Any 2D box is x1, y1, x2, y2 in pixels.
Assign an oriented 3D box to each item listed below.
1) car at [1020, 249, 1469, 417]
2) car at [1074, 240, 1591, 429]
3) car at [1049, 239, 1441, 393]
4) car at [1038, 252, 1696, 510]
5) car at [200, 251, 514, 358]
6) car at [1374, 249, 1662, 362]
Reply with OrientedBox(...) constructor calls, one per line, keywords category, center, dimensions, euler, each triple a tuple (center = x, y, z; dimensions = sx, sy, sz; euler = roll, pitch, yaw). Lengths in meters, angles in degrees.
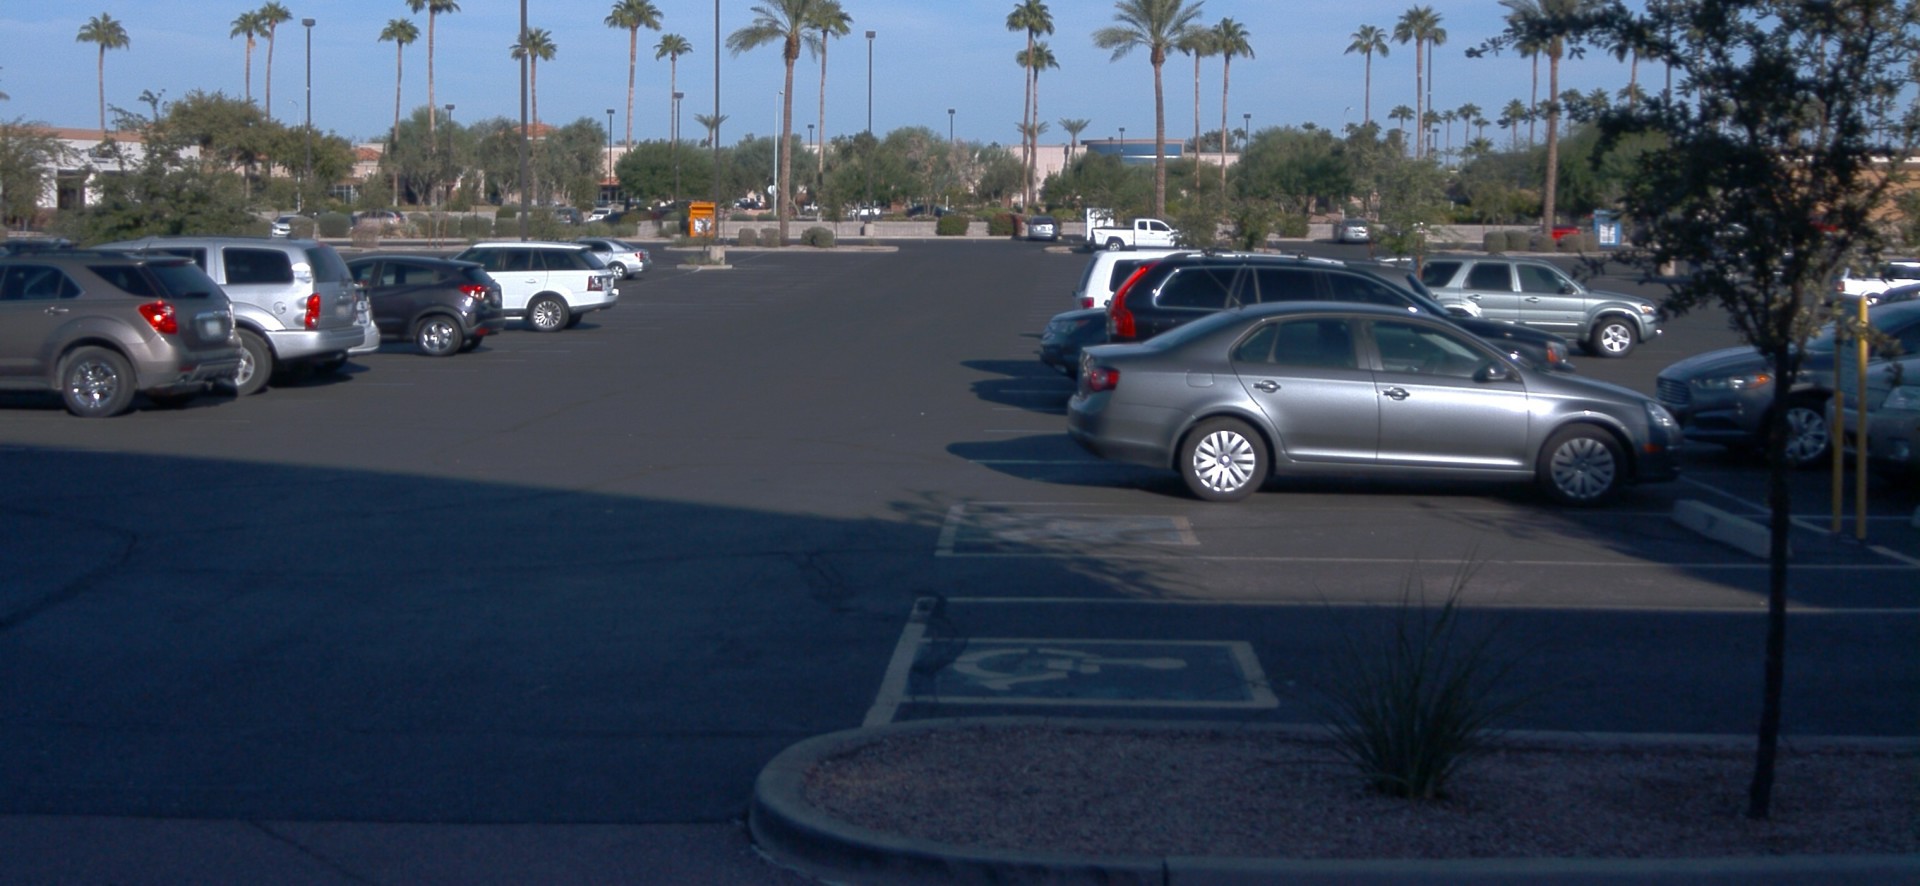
OrientedBox(category="car", center=(3.259, -1.357, 24.694), dimensions=(5.087, 1.843, 2.261), euler=(0, 4, 1))
OrientedBox(category="car", center=(3.736, -1.182, 21.604), dimensions=(4.988, 1.813, 2.282), euler=(0, 5, 0))
OrientedBox(category="car", center=(3.680, -1.723, 27.339), dimensions=(4.917, 1.883, 2.180), euler=(0, 4, 5))
OrientedBox(category="car", center=(2.959, -0.542, 15.924), dimensions=(4.651, 1.794, 2.080), euler=(0, 4, 0))
OrientedBox(category="car", center=(-9.645, -2.251, 33.423), dimensions=(4.481, 1.614, 1.952), euler=(0, 4, 0))
OrientedBox(category="car", center=(9.441, -2.386, 35.418), dimensions=(4.495, 1.814, 2.046), euler=(1, 4, 6))
